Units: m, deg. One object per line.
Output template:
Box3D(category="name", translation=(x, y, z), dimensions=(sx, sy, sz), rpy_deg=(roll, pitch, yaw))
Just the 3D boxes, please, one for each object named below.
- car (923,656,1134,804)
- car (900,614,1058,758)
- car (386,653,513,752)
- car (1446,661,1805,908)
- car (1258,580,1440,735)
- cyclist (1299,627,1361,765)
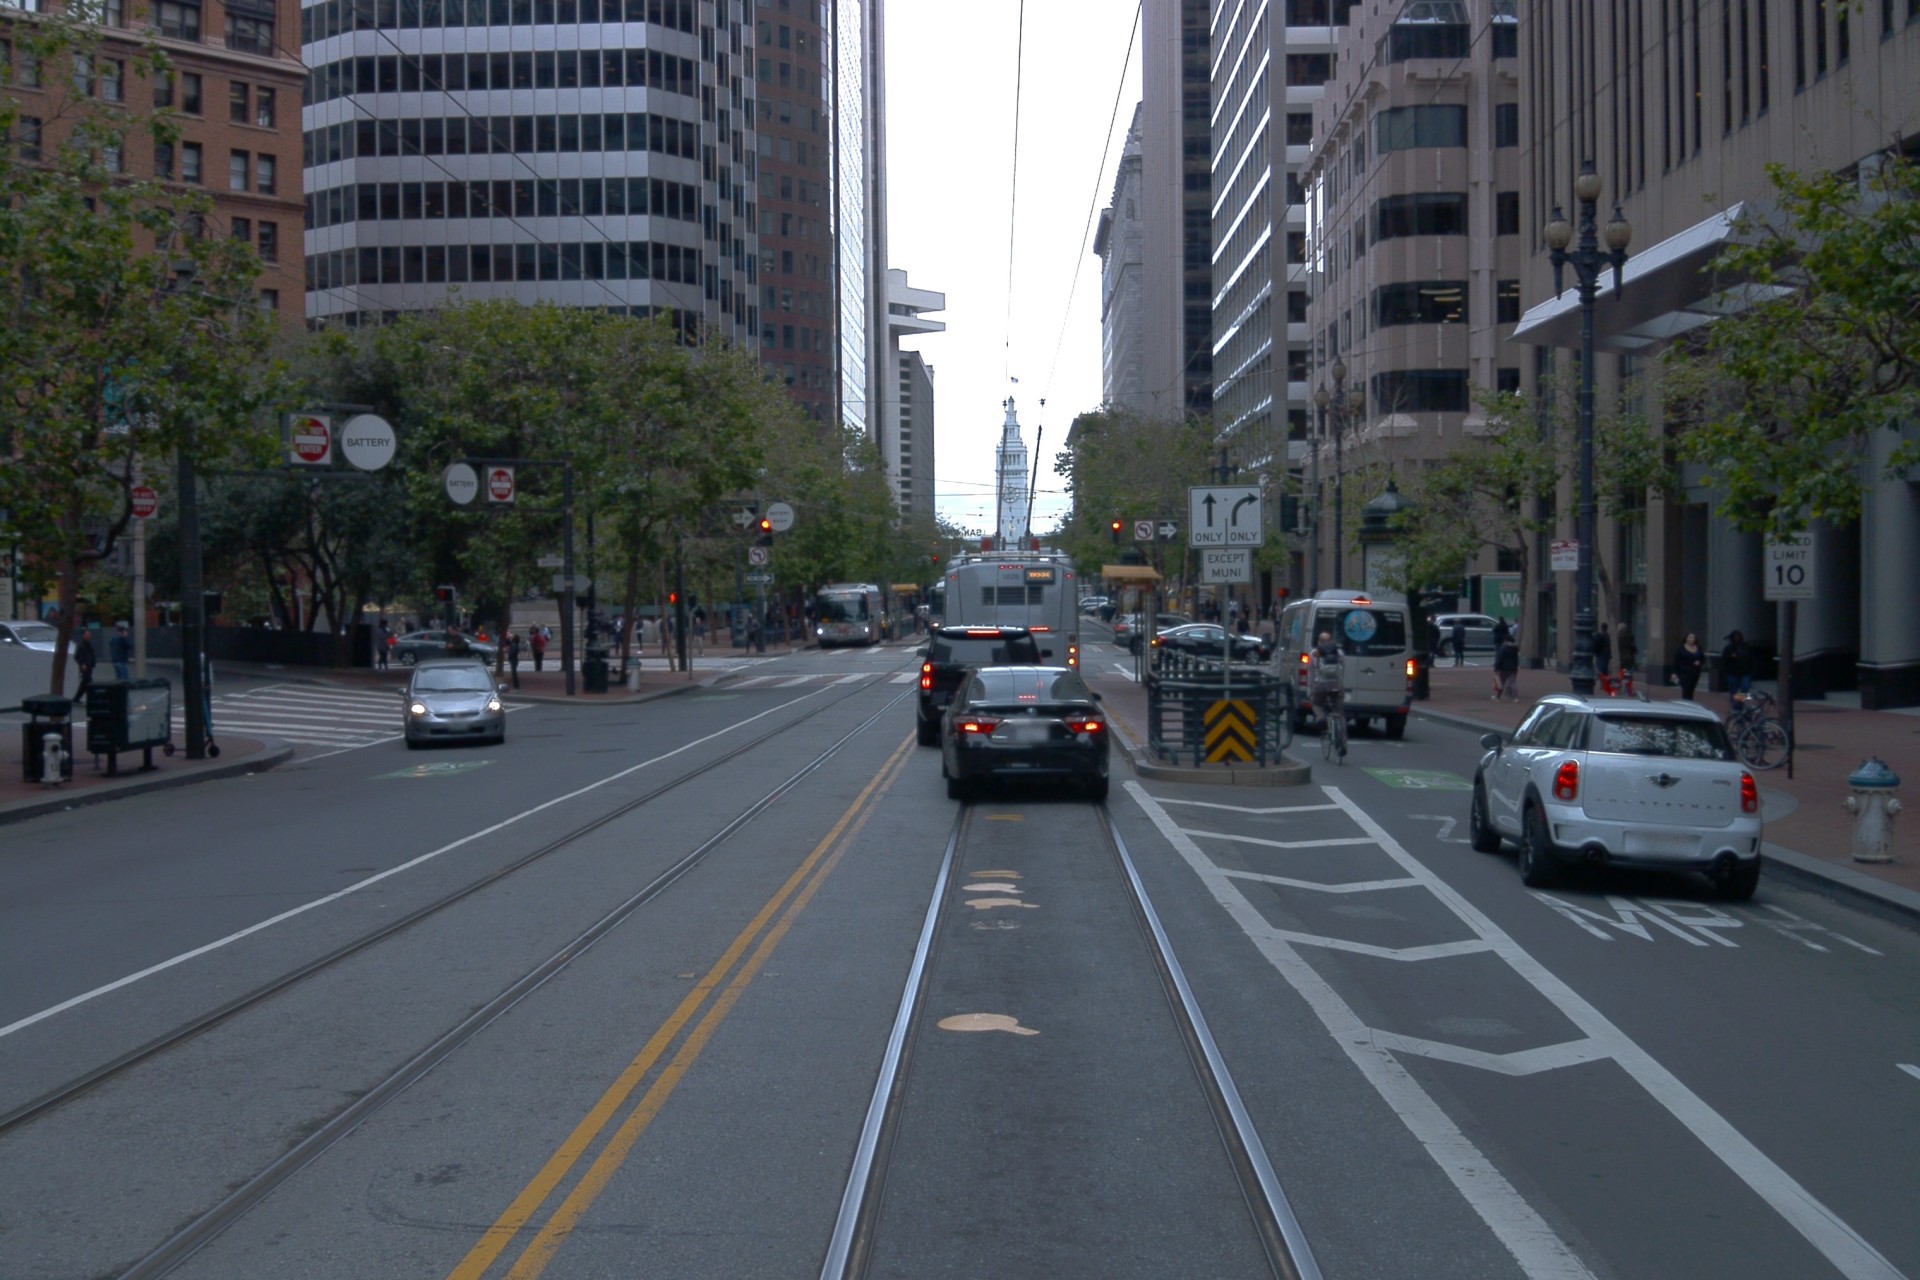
Box3D(category="car", translation=(0.683, 0.965, 24.165), dimensions=(2.188, 1.460, 4.687), rpy_deg=(0, 1, -1))
Box3D(category="car", translation=(0.354, 0.646, 32.934), dimensions=(2.308, 2.100, 5.441), rpy_deg=(0, 1, 2))
Box3D(category="car", translation=(-9.132, 1.064, 36.934), dimensions=(2.068, 1.580, 3.980), rpy_deg=(-1, 1, -14))
Box3D(category="car", translation=(5.486, 1.118, 17.578), dimensions=(2.075, 1.784, 3.877), rpy_deg=(0, 1, 5))
Box3D(category="car", translation=(6.914, 0.268, 37.342), dimensions=(2.536, 2.590, 5.348), rpy_deg=(0, 1, 3))
Box3D(category="cyclist", translation=(5.228, 0.771, 29.256), dimensions=(0.638, 1.900, 1.439), rpy_deg=(0, 1, 1))
